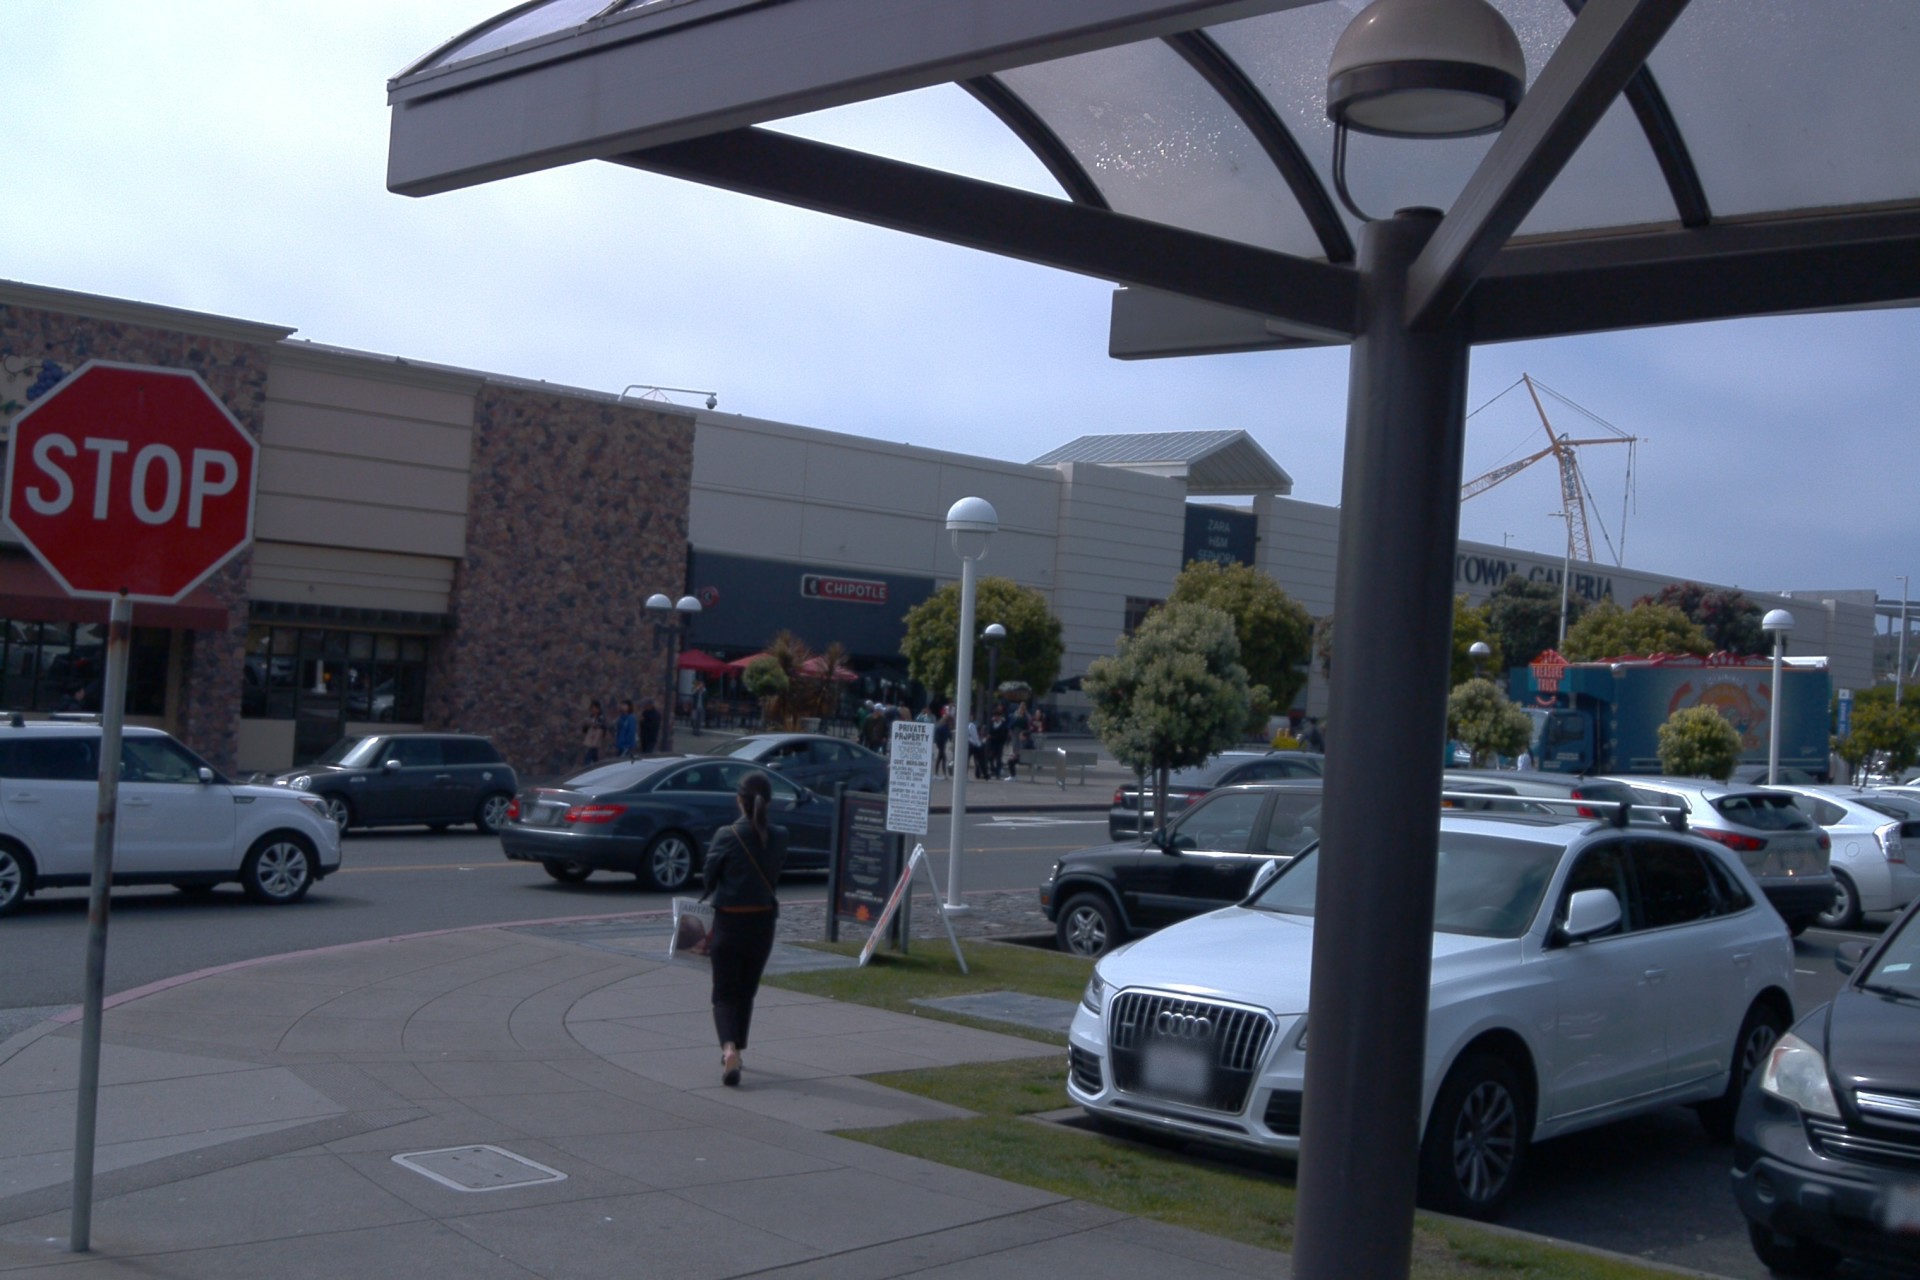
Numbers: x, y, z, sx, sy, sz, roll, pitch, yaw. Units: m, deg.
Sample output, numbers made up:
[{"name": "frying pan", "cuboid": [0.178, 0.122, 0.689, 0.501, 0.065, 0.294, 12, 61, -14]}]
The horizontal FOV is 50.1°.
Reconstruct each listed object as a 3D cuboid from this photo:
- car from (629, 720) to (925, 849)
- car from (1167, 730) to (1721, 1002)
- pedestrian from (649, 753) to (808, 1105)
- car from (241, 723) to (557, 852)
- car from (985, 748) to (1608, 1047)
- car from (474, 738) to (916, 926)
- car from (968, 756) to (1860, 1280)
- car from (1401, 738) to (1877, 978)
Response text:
[{"name": "car", "cuboid": [-2.771, 2.172, 31.910, 1.938, 1.640, 4.407, 0, 1, 43]}, {"name": "car", "cuboid": [4.265, 1.899, 18.652, 2.035, 1.910, 4.506, -1, 1, -44]}, {"name": "pedestrian", "cuboid": [-1.132, 1.365, 9.966, 0.628, 1.570, 0.741, 0, 0, -18]}, {"name": "car", "cuboid": [-7.530, 1.930, 27.767, 3.678, 1.422, 1.848, -1, 1, -43]}, {"name": "car", "cuboid": [2.575, 1.899, 16.473, 4.555, 1.780, 2.041, 0, 1, 43]}, {"name": "car", "cuboid": [-2.724, 1.948, 21.968, 1.963, 1.530, 4.466, 0, 1, 43]}, {"name": "car", "cuboid": [2.425, 1.586, 10.057, 2.202, 1.710, 4.650, 0, 1, 43]}, {"name": "car", "cuboid": [6.778, 2.085, 20.999, 2.069, 1.900, 4.322, 0, 1, -30]}]
